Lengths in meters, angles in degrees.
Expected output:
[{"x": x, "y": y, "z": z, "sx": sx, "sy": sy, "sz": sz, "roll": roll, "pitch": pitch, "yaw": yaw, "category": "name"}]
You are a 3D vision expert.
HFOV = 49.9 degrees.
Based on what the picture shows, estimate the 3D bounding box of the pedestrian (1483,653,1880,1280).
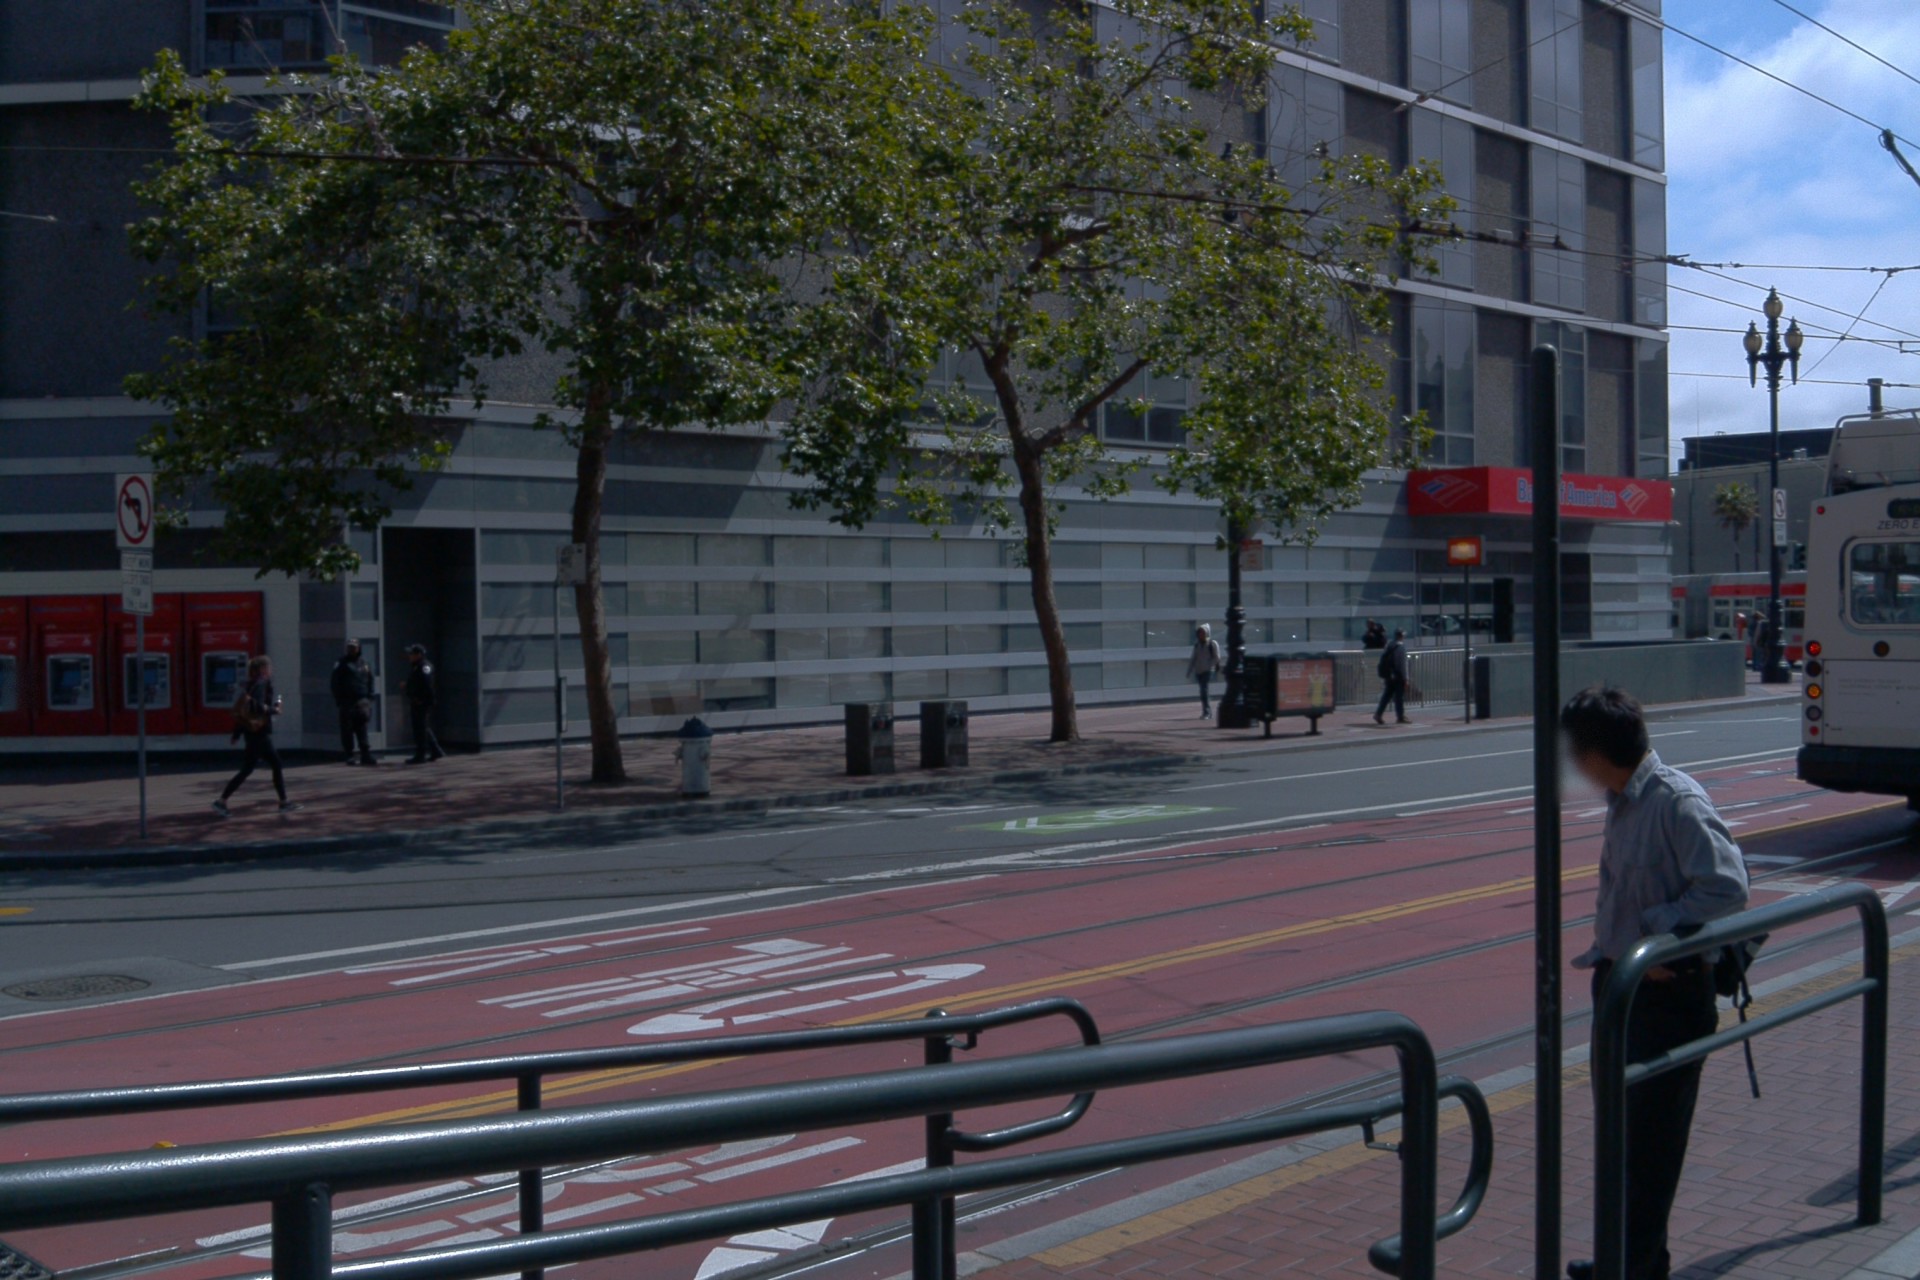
[{"x": 1.837, "y": 0.916, "z": 5.379, "sx": 0.802, "sy": 1.750, "sz": 0.804, "roll": 0, "pitch": 1, "yaw": 5, "category": "pedestrian"}]

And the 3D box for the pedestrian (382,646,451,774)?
[{"x": -7.405, "y": 0.942, "z": 28.131, "sx": 0.696, "sy": 1.700, "sz": 0.801, "roll": -1, "pitch": 1, "yaw": -32, "category": "pedestrian"}]

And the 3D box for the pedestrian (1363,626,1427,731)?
[{"x": 7.506, "y": 0.646, "z": 35.584, "sx": 0.810, "sy": 1.770, "sz": 0.721, "roll": -1, "pitch": 1, "yaw": -35, "category": "pedestrian"}]

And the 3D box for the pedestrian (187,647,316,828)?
[{"x": -7.612, "y": 1.022, "z": 22.182, "sx": 1.139, "sy": 1.870, "sz": 0.843, "roll": -1, "pitch": 1, "yaw": -32, "category": "pedestrian"}]

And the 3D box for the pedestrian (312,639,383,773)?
[{"x": -8.316, "y": 0.884, "z": 28.026, "sx": 0.724, "sy": 1.770, "sz": 0.681, "roll": -1, "pitch": 1, "yaw": -37, "category": "pedestrian"}]

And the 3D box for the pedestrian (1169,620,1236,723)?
[{"x": 4.342, "y": 0.556, "z": 36.948, "sx": 0.978, "sy": 1.810, "sz": 0.733, "roll": -1, "pitch": 1, "yaw": -45, "category": "pedestrian"}]
